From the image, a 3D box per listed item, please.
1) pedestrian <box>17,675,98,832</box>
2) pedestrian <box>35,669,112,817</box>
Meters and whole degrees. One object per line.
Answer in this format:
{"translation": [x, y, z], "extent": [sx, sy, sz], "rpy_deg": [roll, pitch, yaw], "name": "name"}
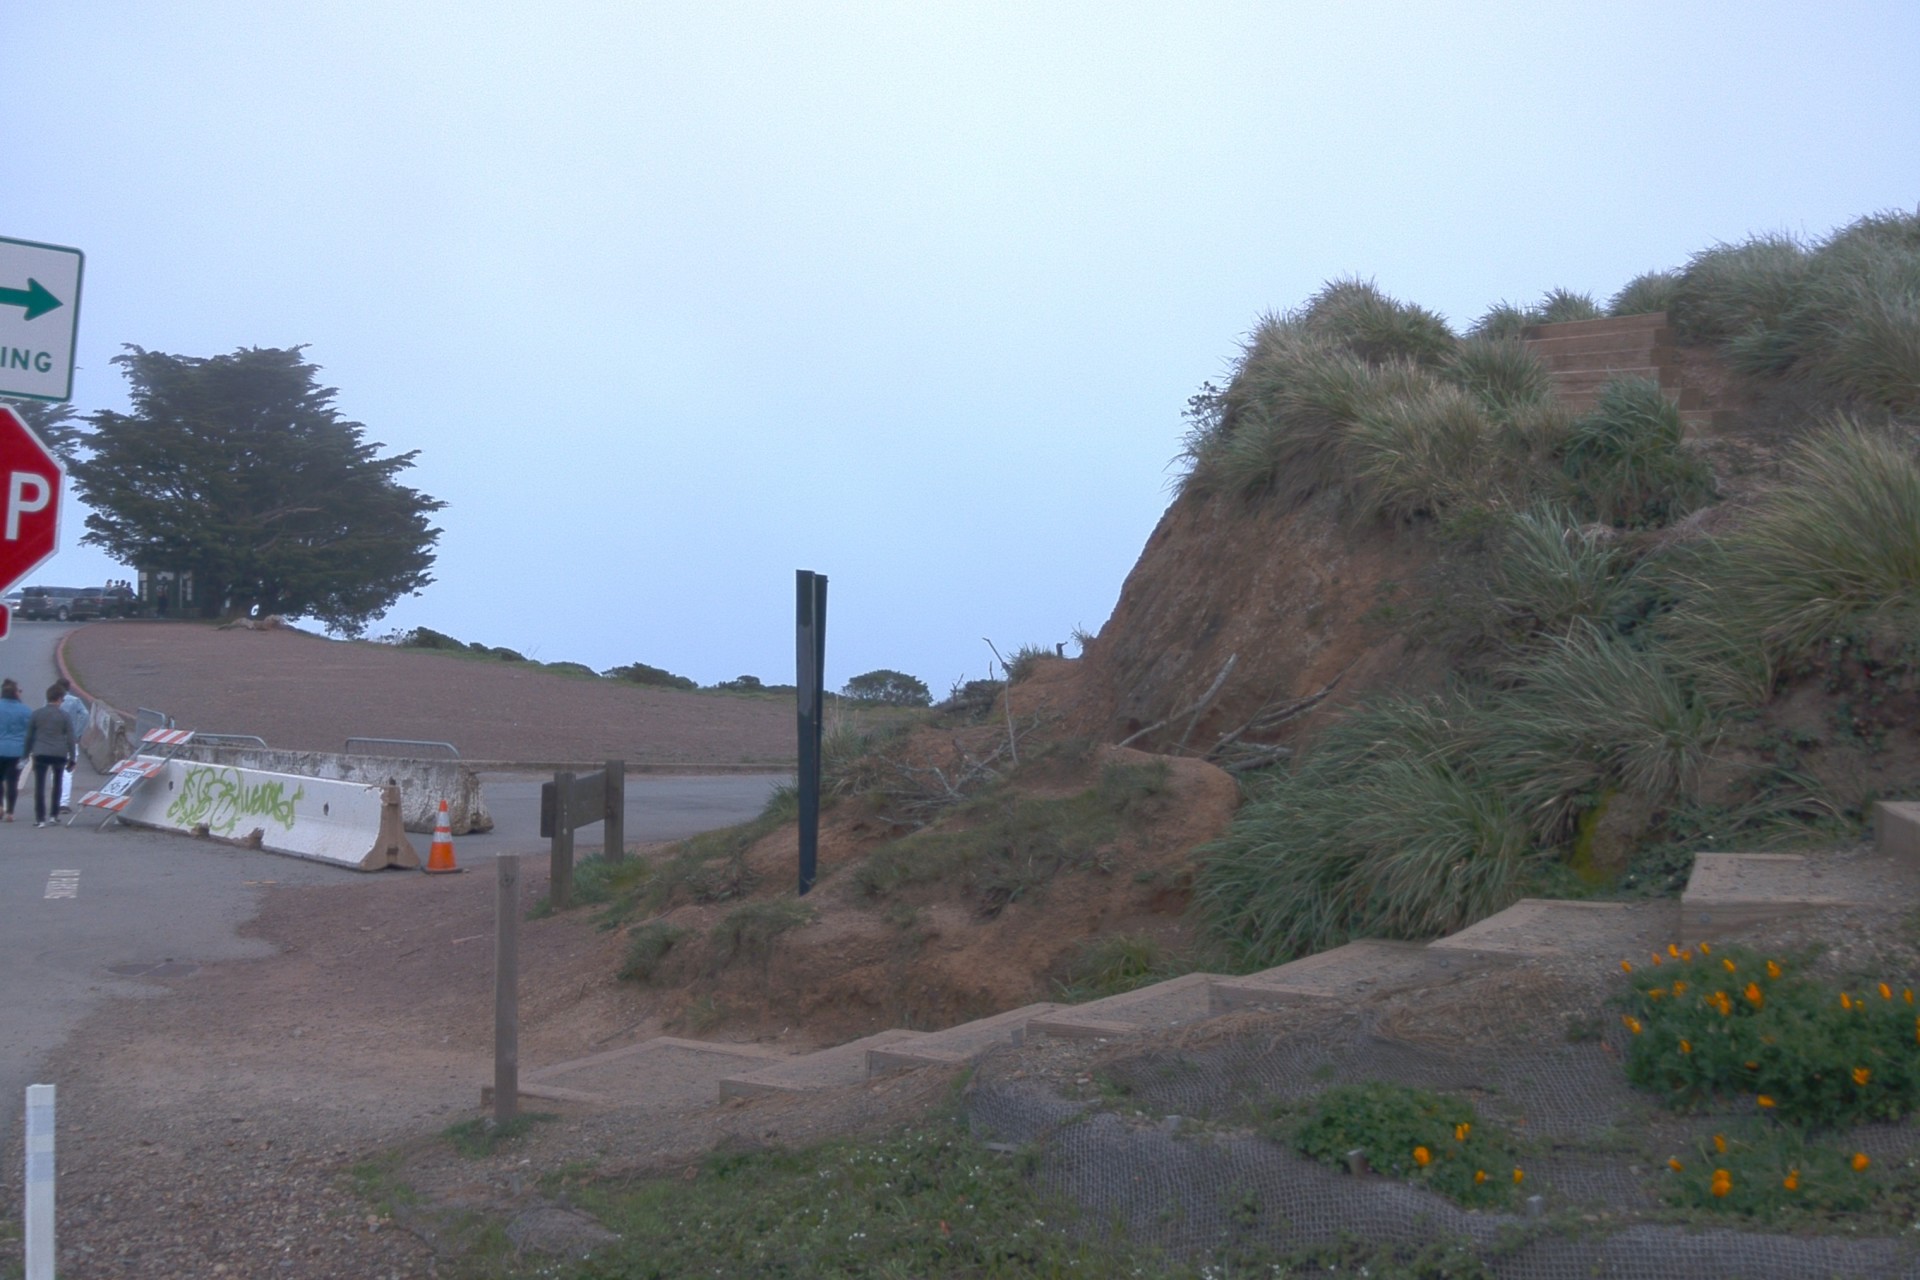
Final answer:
{"translation": [-10.270, 1.270, 23.878], "extent": [0.730, 1.720, 1.099], "rpy_deg": [0, 0, -17], "name": "pedestrian"}
{"translation": [-10.992, 1.260, 25.999], "extent": [0.814, 1.790, 0.938], "rpy_deg": [0, 0, -20], "name": "pedestrian"}
